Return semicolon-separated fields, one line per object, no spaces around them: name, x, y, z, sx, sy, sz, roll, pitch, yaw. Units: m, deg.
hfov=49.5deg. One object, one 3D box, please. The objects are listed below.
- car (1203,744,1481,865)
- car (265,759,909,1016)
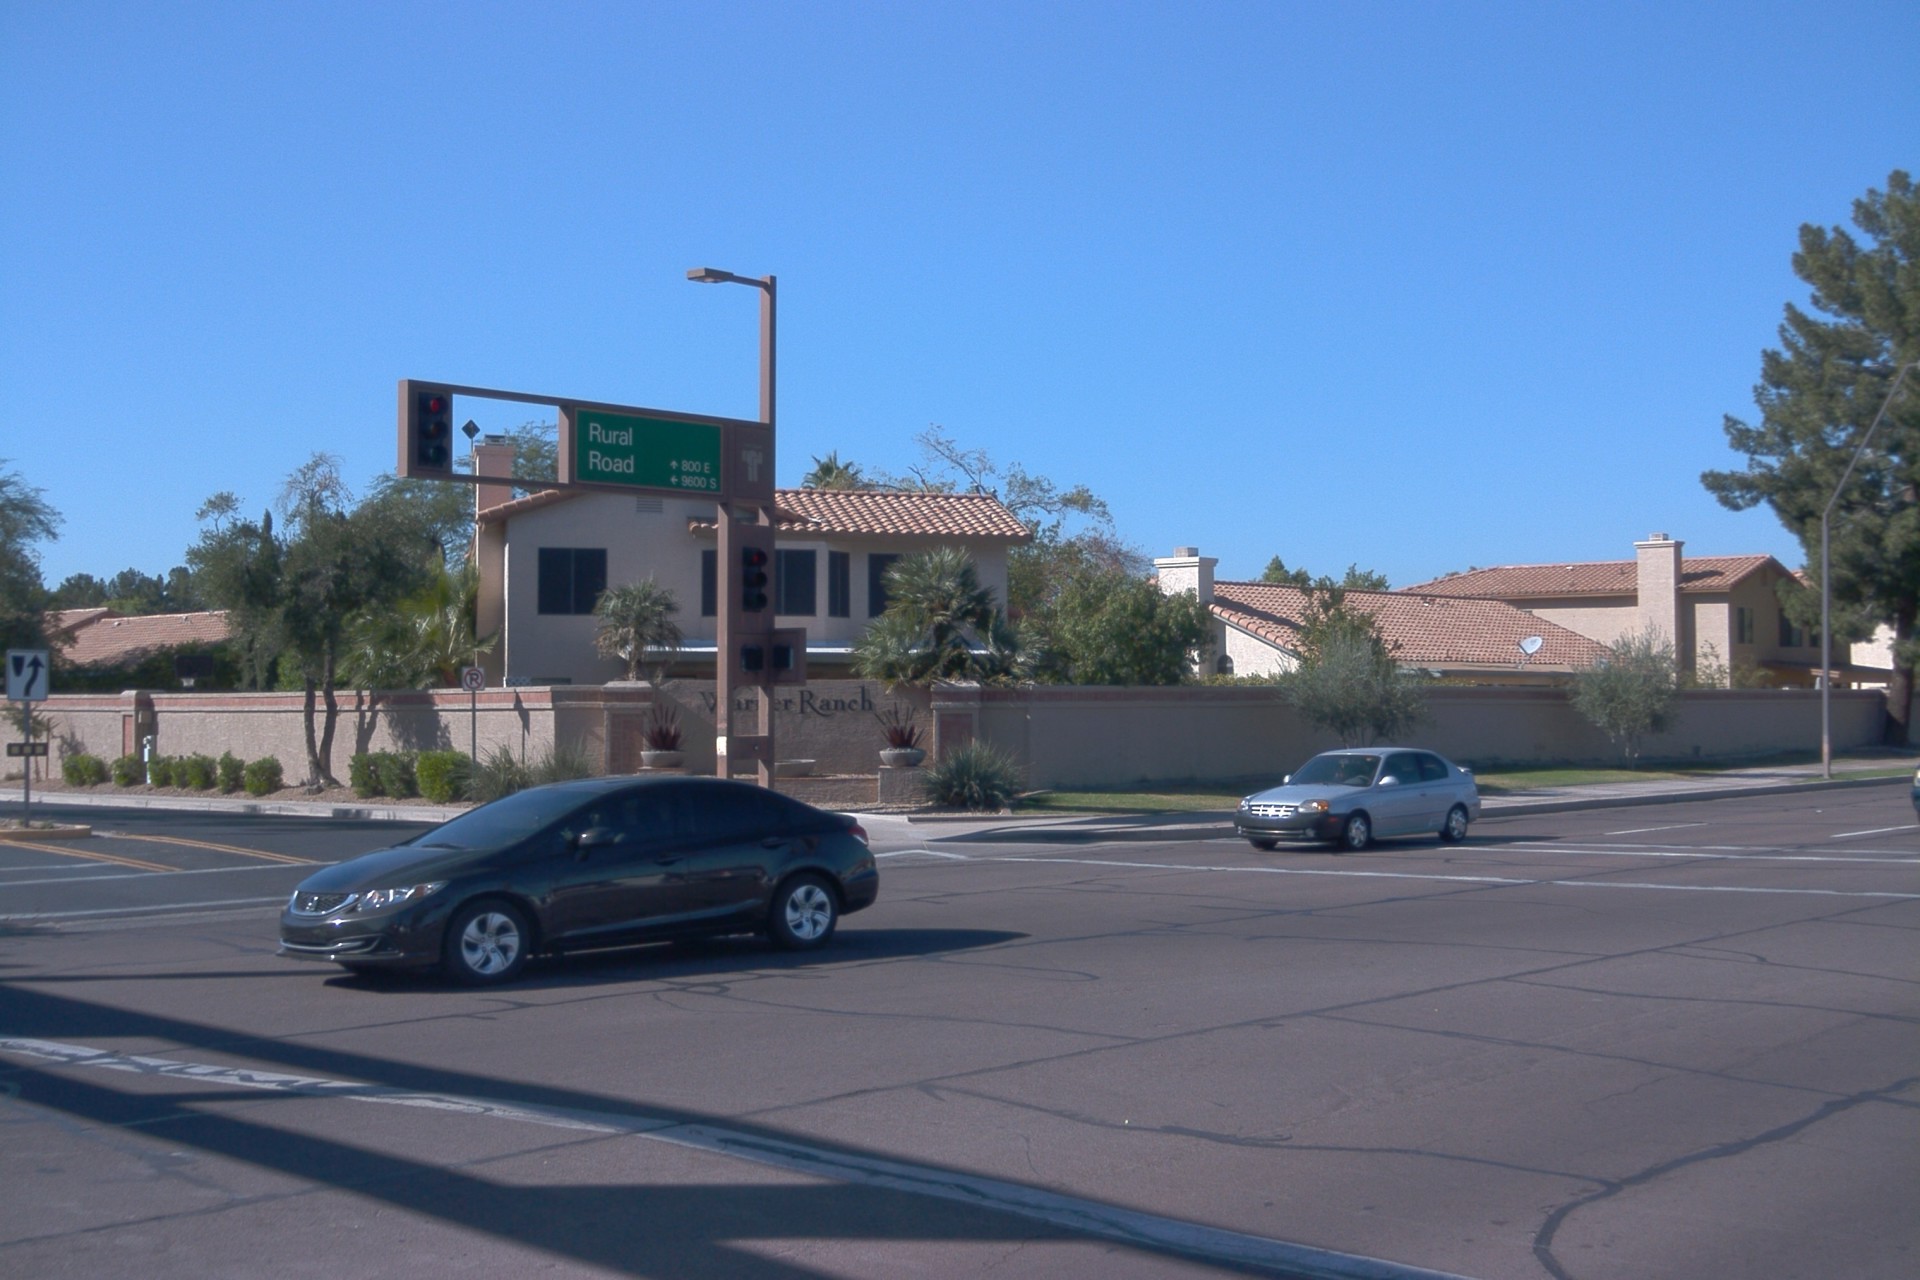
car;5.444;2.256;29.351;4.110;1.400;1.829;1;0;-45
car;-2.751;1.767;16.062;4.492;1.470;2.060;1;0;-44
